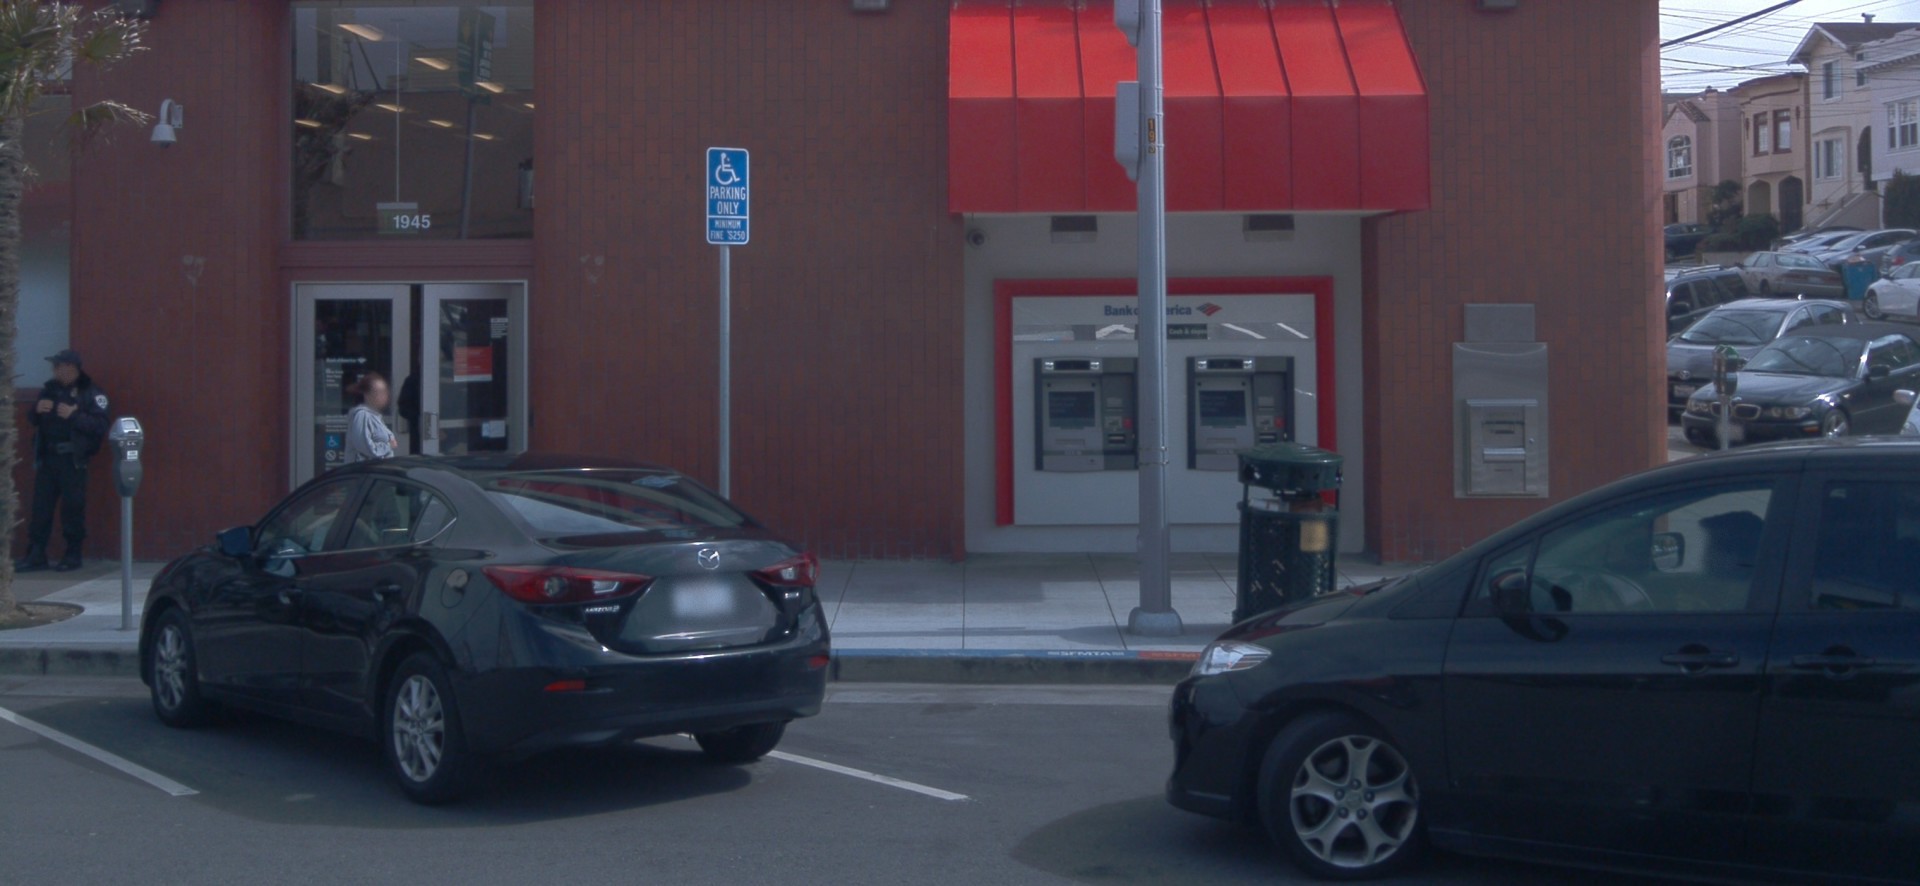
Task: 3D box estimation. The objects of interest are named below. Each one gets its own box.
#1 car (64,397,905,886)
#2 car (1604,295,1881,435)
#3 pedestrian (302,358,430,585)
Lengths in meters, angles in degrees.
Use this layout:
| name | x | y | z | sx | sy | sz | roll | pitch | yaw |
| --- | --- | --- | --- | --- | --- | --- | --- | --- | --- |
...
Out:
| name | x | y | z | sx | sy | sz | roll | pitch | yaw |
| --- | --- | --- | --- | --- | --- | --- | --- | --- | --- |
| car | -2.532 | 0.712 | 10.163 | 2.030 | 1.473 | 4.587 | -3 | 6 | -42 |
| car | 10.669 | -1.126 | 28.175 | 4.130 | 1.637 | 1.798 | -4 | 5 | -41 |
| pedestrian | -4.250 | 0.185 | 14.882 | 0.754 | 1.537 | 0.694 | 0 | 1 | -4 |
